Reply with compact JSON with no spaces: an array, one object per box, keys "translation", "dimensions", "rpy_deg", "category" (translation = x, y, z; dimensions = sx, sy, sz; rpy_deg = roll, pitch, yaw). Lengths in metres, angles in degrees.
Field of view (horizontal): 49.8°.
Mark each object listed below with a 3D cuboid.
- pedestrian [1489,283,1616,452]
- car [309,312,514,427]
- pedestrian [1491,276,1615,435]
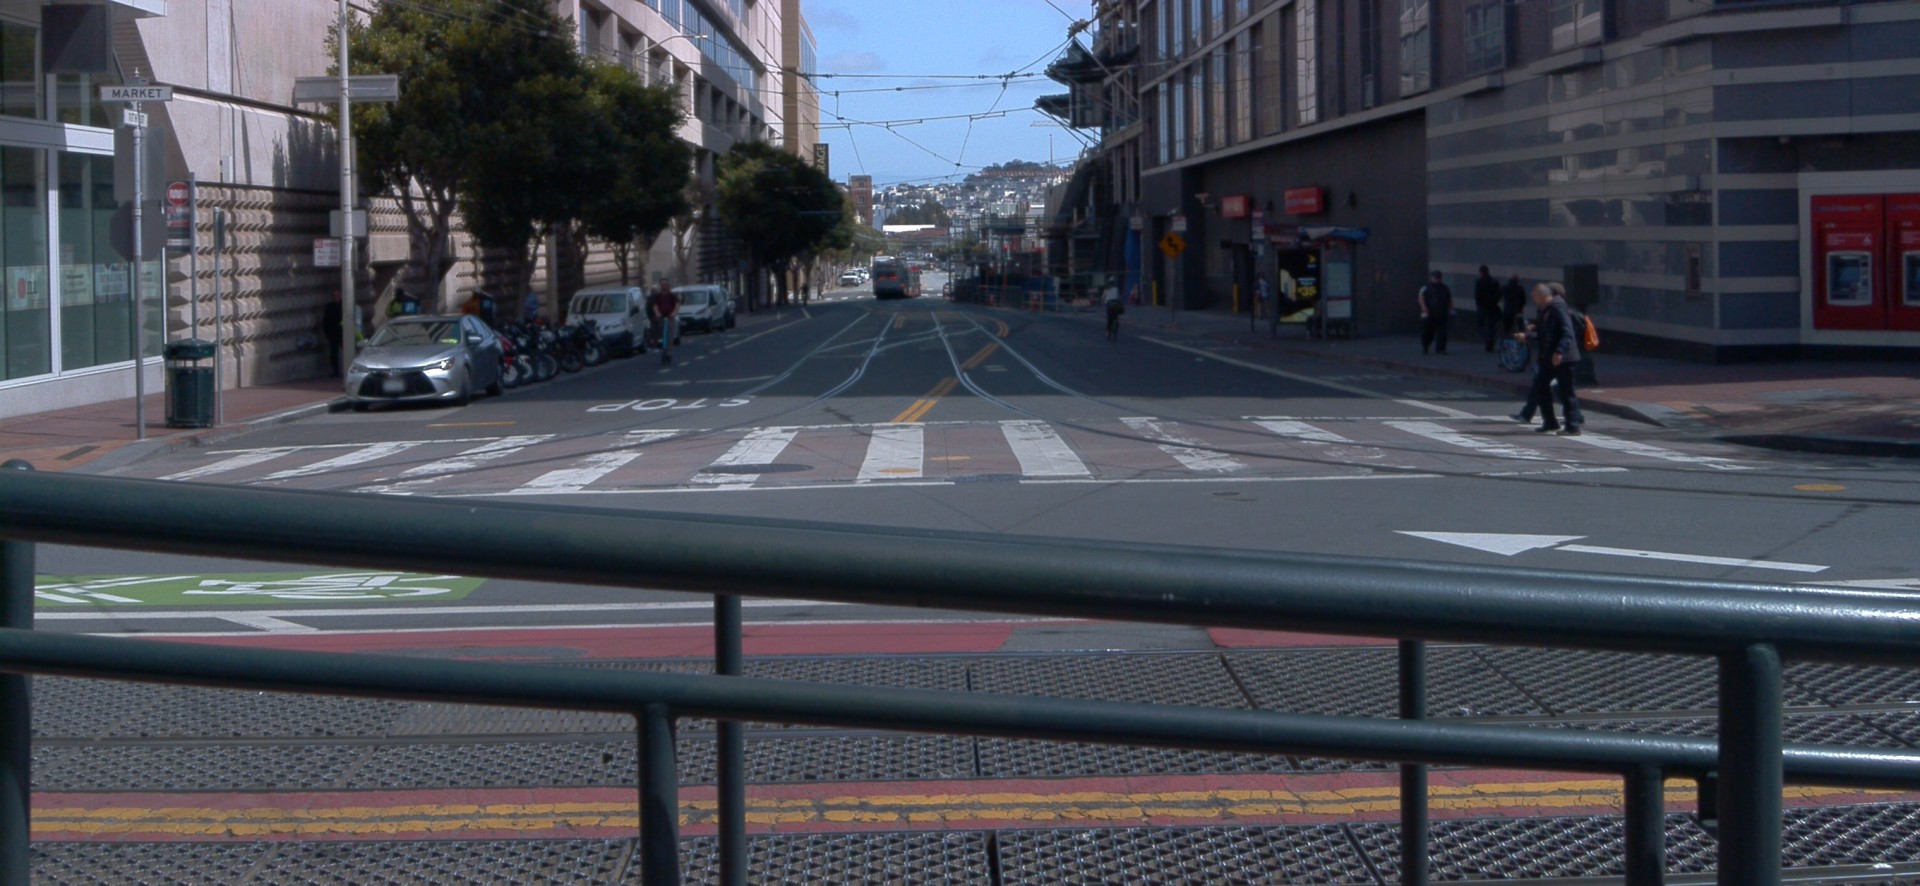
[{"translation":[6.506,-0.848,22.746],"dimensions":[1.094,1.766,0.864],"rpy_deg":[-1,2,-6],"category":"pedestrian"},{"translation":[-8.937,-1.275,34.142],"dimensions":[2.160,1.492,4.838],"rpy_deg":[-1,6,-1],"category":"car"},{"translation":[6.945,-1.047,24.277],"dimensions":[1.155,1.766,1.190],"rpy_deg":[0,3,3],"category":"pedestrian"}]
